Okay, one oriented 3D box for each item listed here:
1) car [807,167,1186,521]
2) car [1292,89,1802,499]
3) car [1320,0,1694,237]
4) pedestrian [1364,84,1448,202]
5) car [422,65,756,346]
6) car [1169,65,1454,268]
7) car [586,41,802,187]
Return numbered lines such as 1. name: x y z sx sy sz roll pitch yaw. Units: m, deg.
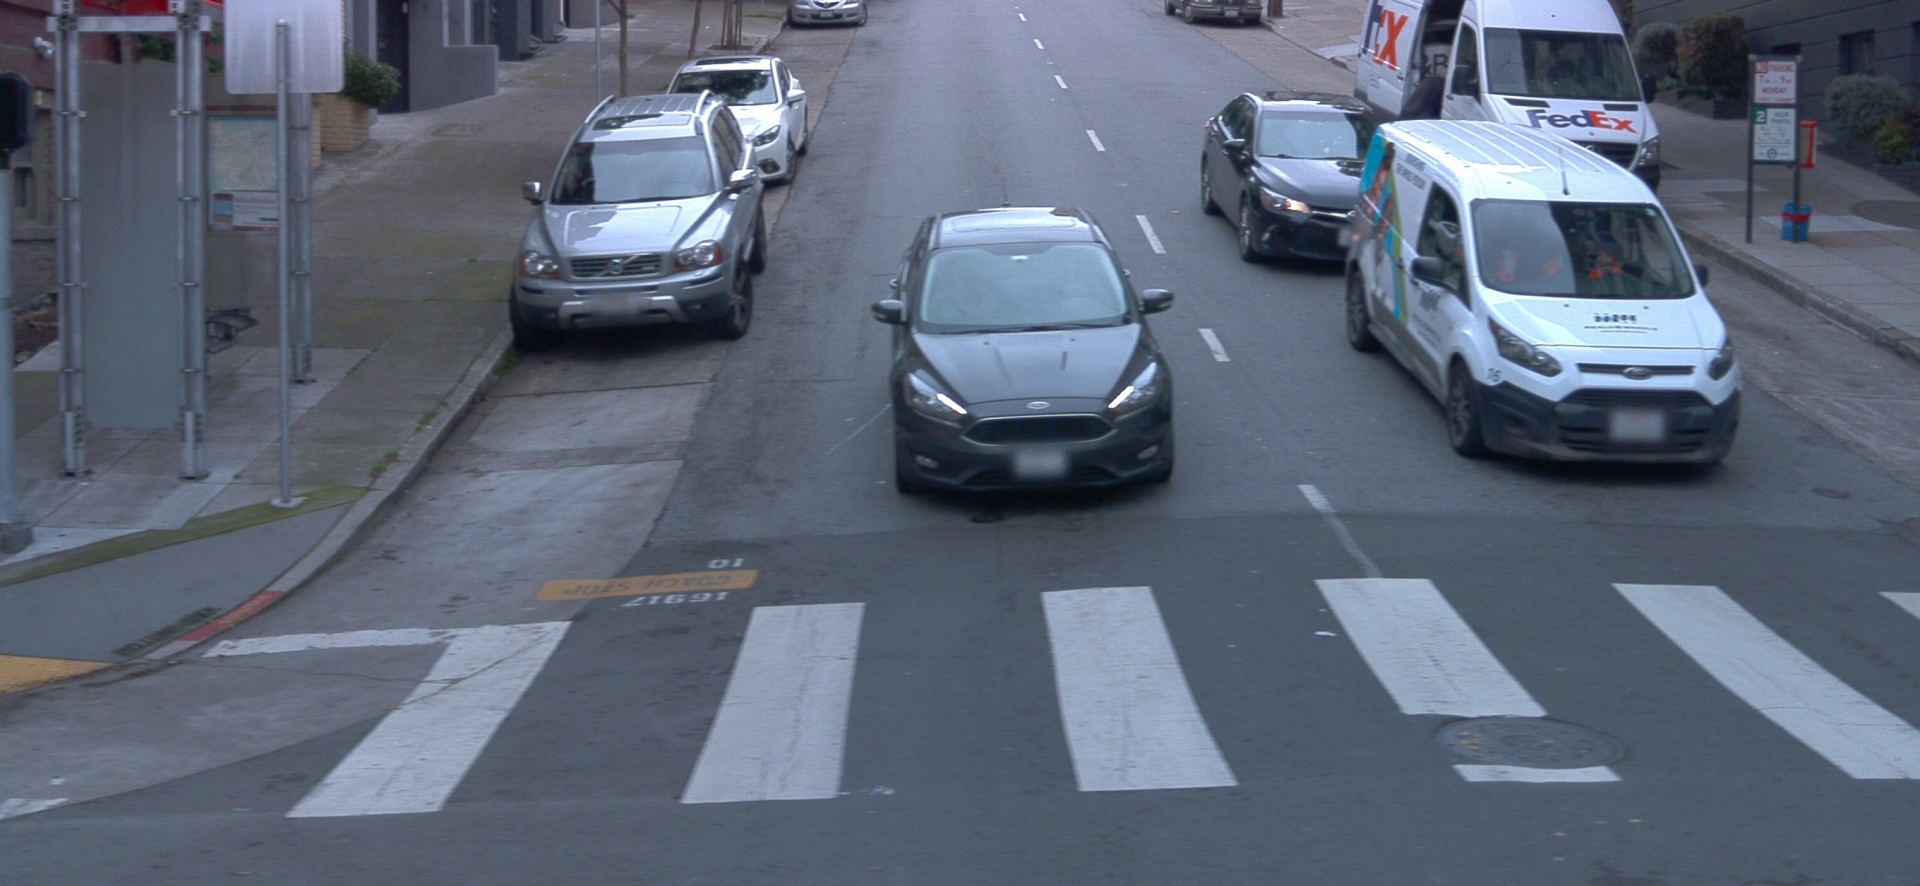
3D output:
1. car: 0.104 -0.837 14.011 2.158 1.999 4.480 0 6 -3
2. car: 3.933 -1.197 14.899 2.082 2.457 4.884 0 6 -3
3. car: 6.412 -4.238 25.399 2.327 3.212 7.155 0 6 -3
4. pedestrian: 5.410 -3.634 25.081 0.668 1.395 0.736 -3 4 -39
5. car: -3.176 -2.182 18.805 2.269 2.207 4.933 0 6 -1
6. car: 3.496 -2.855 21.522 2.091 1.859 4.853 0 6 -1
7. car: -3.330 -4.190 26.819 2.120 1.710 4.603 0 6 1
